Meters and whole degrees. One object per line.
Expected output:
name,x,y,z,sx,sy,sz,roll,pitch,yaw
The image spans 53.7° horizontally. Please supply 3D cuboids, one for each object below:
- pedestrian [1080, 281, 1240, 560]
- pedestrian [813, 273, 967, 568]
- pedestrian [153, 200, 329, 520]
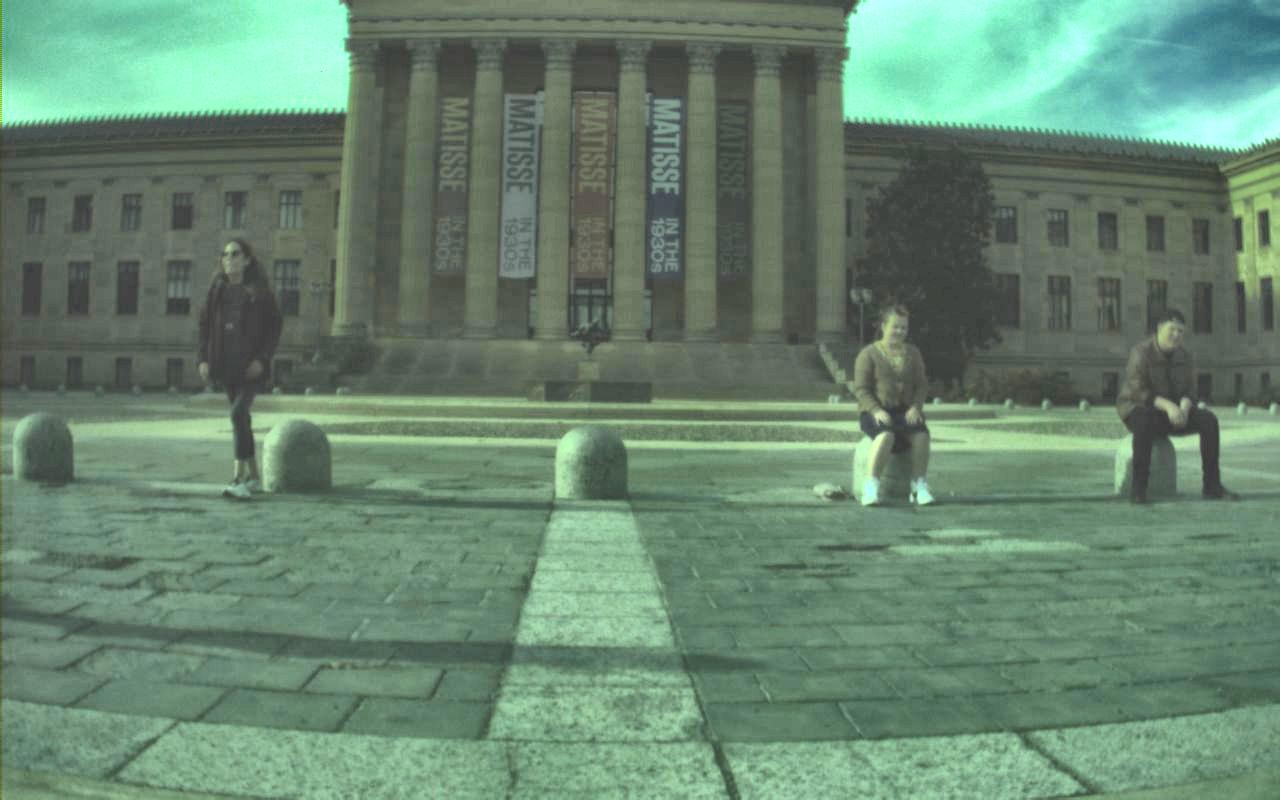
pedestrian,3.481,0.139,7.857,0.830,1.762,0.838,0,0,-3
pedestrian,1.573,0.122,7.908,0.824,1.773,0.827,0,0,-1
pedestrian,-2.405,-0.230,7.230,0.767,1.789,0.807,0,0,16
